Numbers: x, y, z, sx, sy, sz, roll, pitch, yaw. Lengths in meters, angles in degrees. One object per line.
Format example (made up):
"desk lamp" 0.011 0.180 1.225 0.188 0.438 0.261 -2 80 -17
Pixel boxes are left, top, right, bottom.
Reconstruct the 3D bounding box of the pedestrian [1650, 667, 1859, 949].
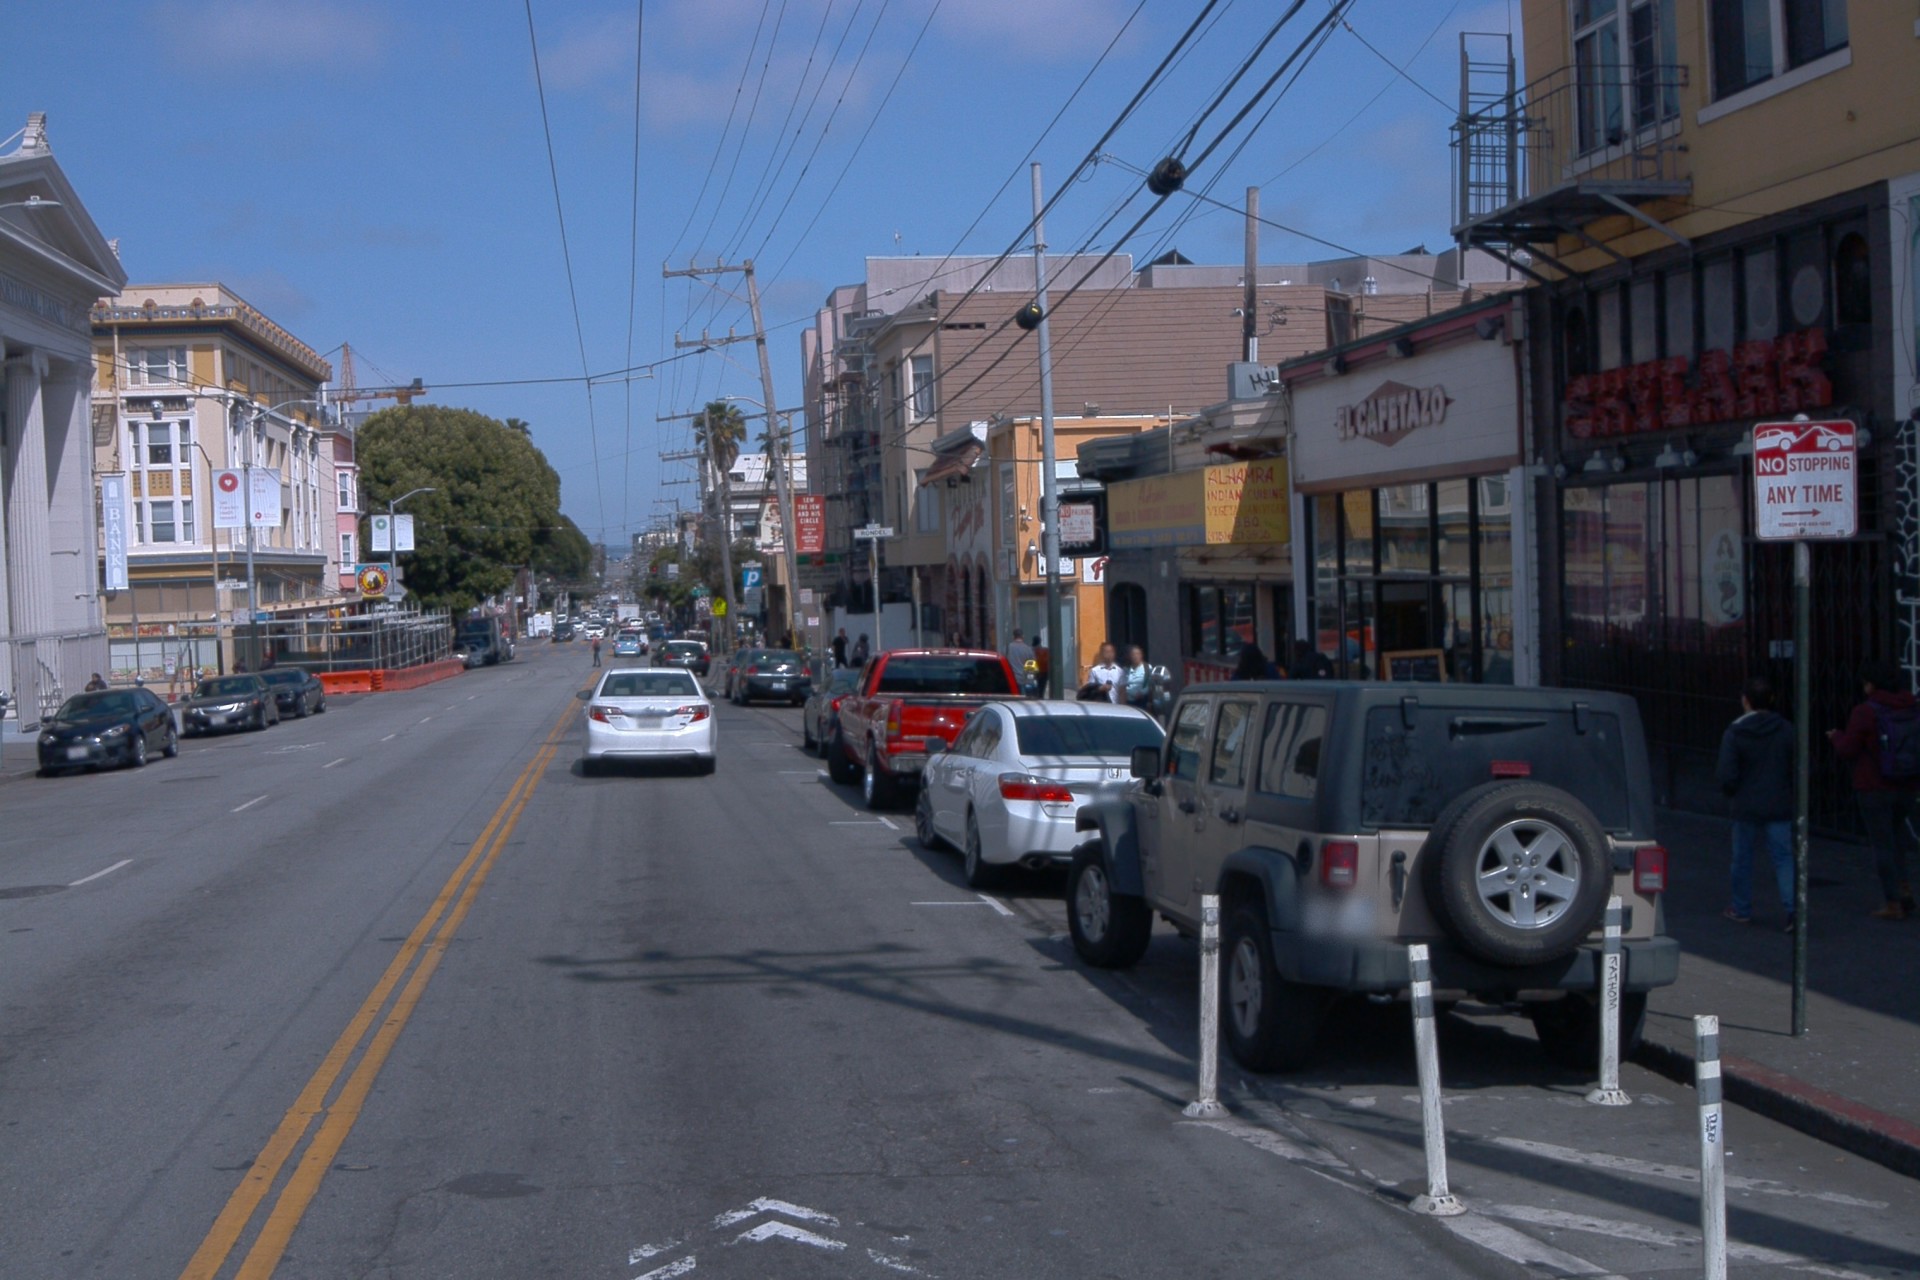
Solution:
"pedestrian" 4.825 0.993 12.539 0.882 1.630 0.914 0 1 -4

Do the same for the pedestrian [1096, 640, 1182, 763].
"pedestrian" 2.410 0.809 27.667 0.734 1.600 0.888 -1 1 -40

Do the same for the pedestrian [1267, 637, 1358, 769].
"pedestrian" 4.340 0.765 25.370 0.917 1.600 0.703 0 1 -10

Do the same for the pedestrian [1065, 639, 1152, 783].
"pedestrian" 1.870 0.877 26.024 0.865 1.760 1.173 0 1 -8

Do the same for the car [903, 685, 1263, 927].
"car" 0.854 1.268 17.554 2.102 1.580 4.866 0 1 -8

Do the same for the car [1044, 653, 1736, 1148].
"car" 1.941 1.097 11.022 2.017 1.960 4.734 0 1 -10

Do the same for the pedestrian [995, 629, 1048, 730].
"pedestrian" 1.092 0.689 36.744 0.845 1.780 0.703 0 1 -7

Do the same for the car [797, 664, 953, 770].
"car" -1.434 1.165 32.866 1.864 1.460 4.432 0 1 -11

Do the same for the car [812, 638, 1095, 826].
"car" -0.253 0.973 24.801 2.359 1.910 5.689 0 1 -11

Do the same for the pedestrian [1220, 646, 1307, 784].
"pedestrian" 3.474 0.844 23.582 0.765 1.530 0.960 0 1 -6

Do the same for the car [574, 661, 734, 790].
"car" -4.356 1.144 29.293 2.077 1.570 4.578 0 1 -8
